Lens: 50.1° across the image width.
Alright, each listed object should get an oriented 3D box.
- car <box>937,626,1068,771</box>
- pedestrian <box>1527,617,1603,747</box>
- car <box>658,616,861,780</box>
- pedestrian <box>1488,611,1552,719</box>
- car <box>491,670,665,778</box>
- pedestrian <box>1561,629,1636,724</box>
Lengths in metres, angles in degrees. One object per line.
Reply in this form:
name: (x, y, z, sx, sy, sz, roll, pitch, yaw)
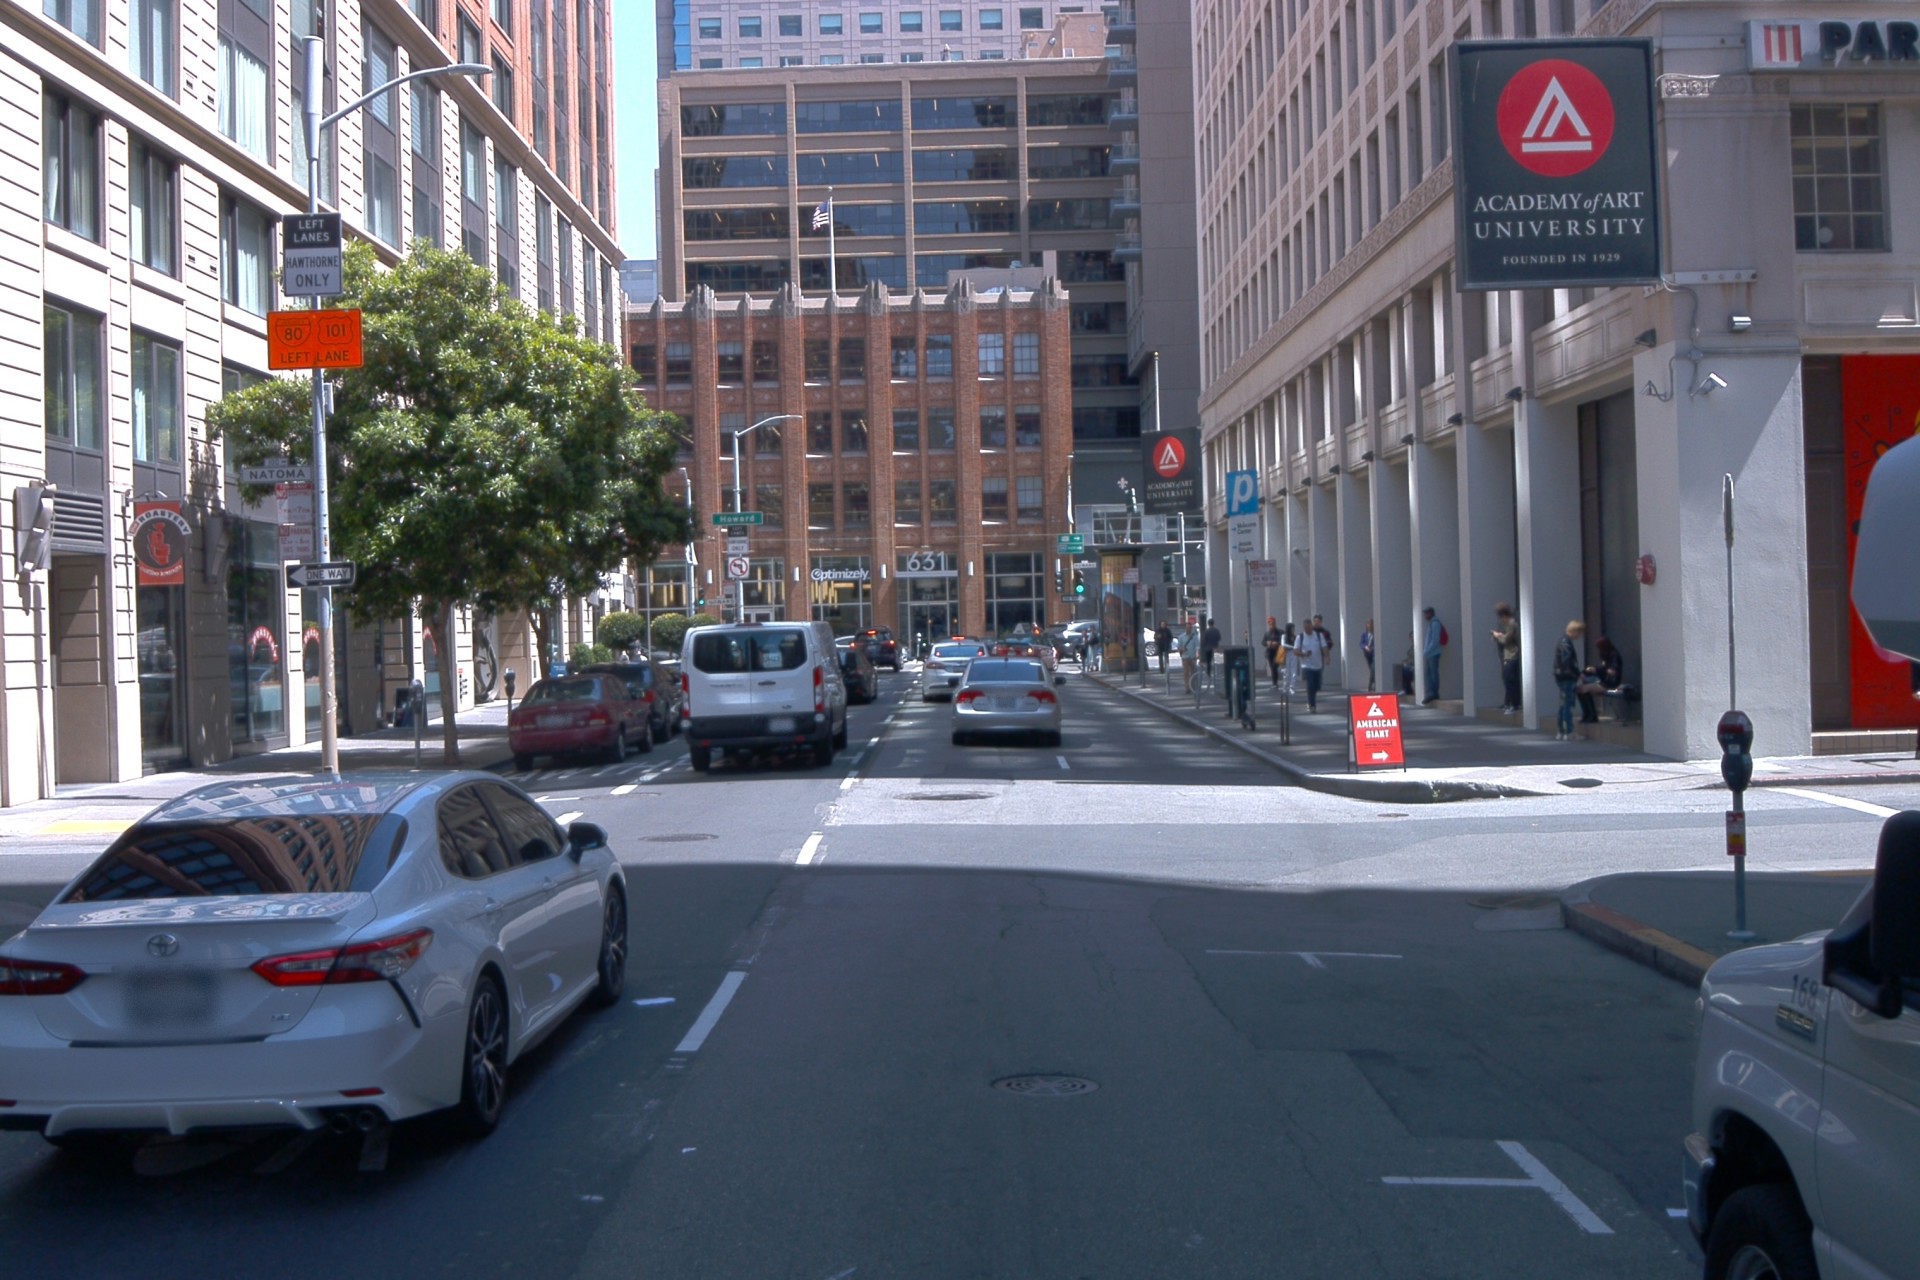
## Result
car: (0.729, 0.889, 33.842, 2.012, 2.200, 4.315, 0, 1, 2)
pedestrian: (8.642, 0.588, 29.382, 0.857, 1.838, 0.671, 0, 1, -5)
car: (-2.846, 0.752, 30.677, 2.374, 2.200, 5.787, 0, 1, 1)
pedestrian: (9.102, 0.400, 33.410, 0.831, 1.744, 0.697, 0, 1, -1)
car: (-6.046, 1.290, 33.033, 1.891, 1.500, 4.429, 0, 1, 1)
pedestrian: (9.161, 0.517, 29.501, 0.837, 1.328, 0.743, 0, 1, -1)
